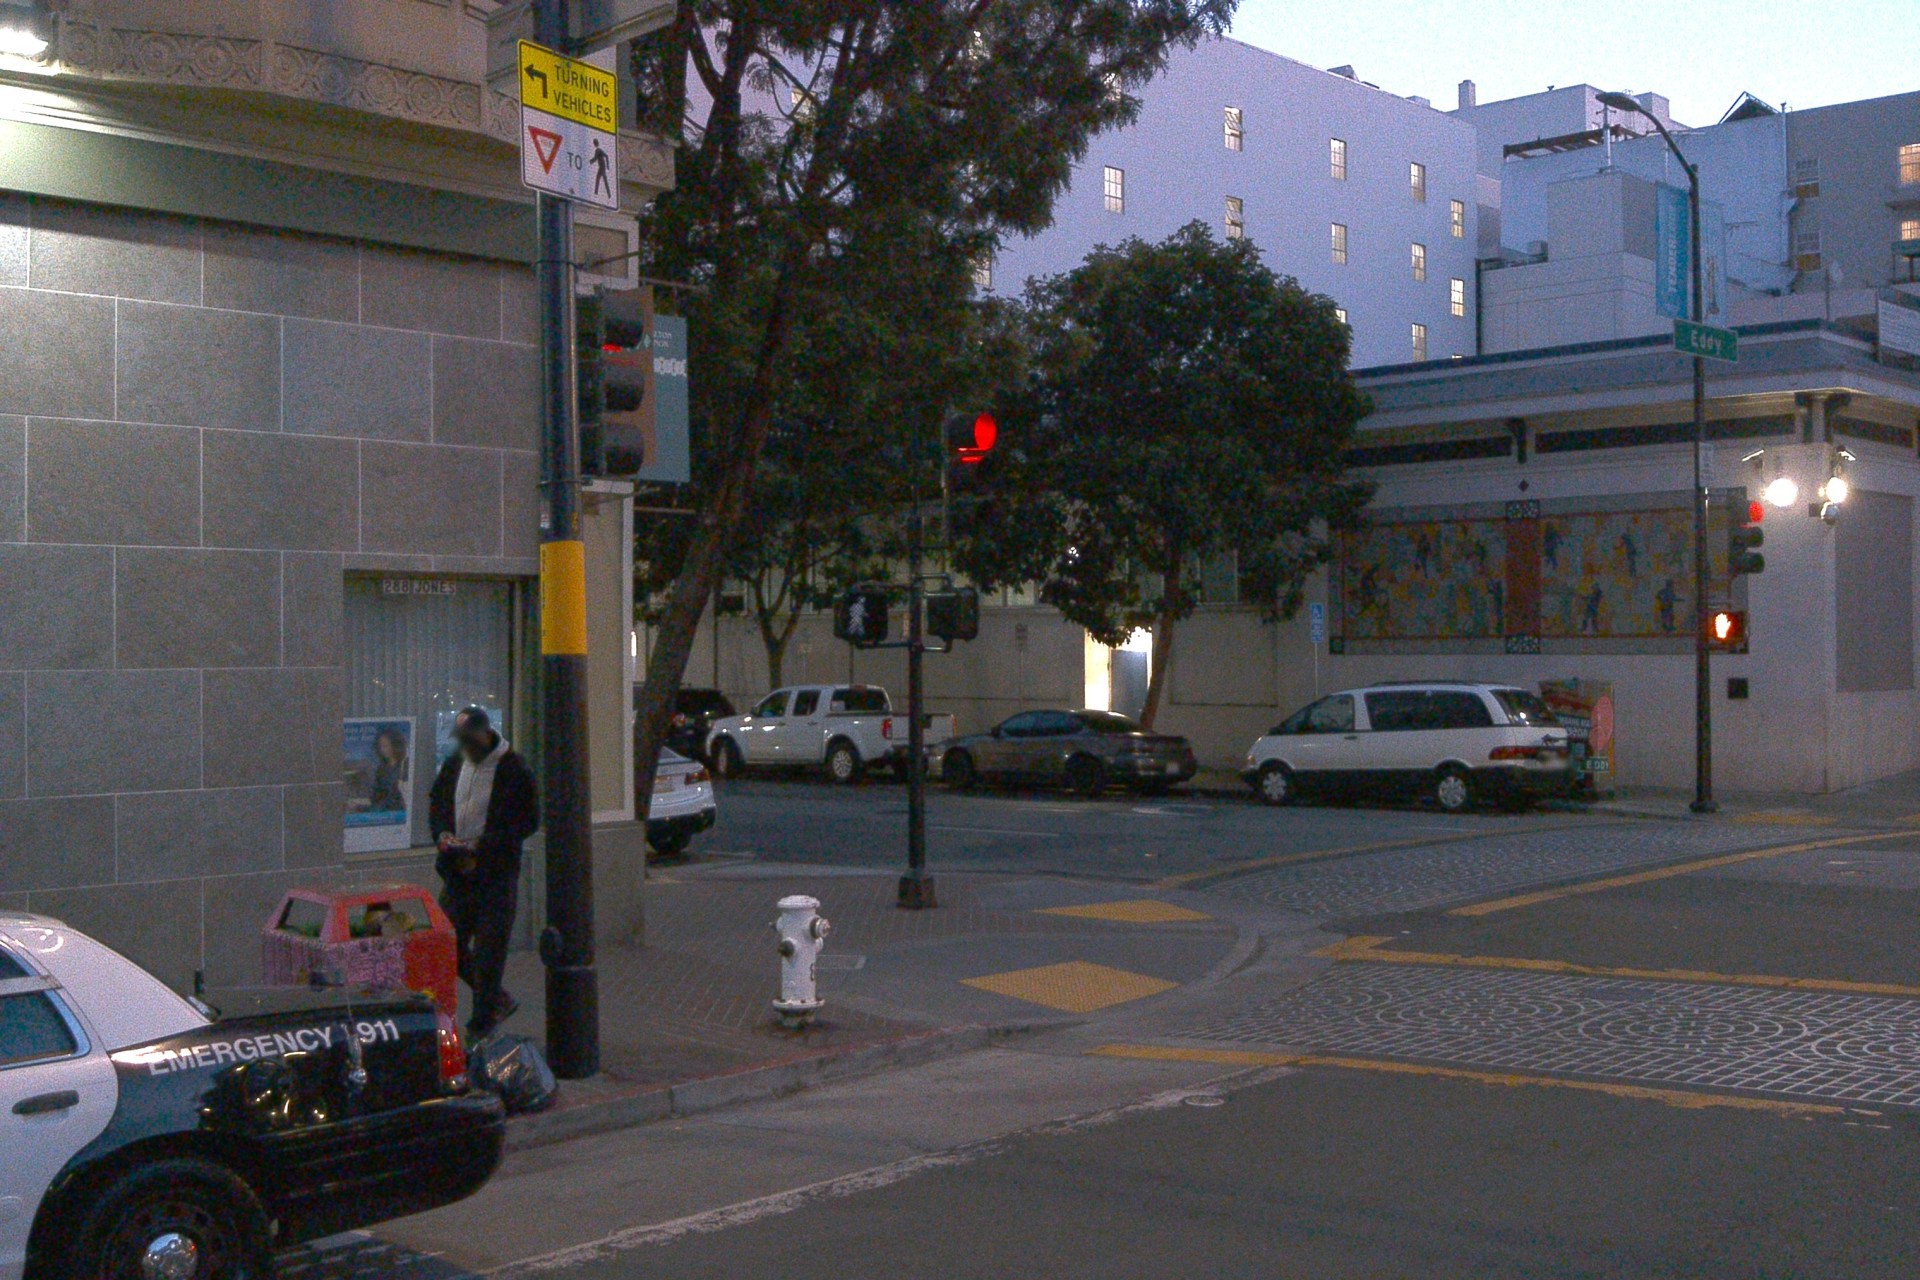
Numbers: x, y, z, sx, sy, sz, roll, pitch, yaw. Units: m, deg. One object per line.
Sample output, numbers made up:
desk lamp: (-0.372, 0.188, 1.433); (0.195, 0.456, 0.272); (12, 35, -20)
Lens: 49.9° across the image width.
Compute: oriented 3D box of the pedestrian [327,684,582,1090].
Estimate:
pedestrian: (-2.647, 1.249, 10.879); (0.977, 1.990, 0.871); (0, 1, 18)

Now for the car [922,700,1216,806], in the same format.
car: (1.700, 1.779, 33.588); (1.916, 1.390, 4.727); (-1, 1, -45)

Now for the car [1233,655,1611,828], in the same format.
car: (6.354, 1.318, 28.797); (4.809, 2.080, 2.006); (1, 1, 44)
